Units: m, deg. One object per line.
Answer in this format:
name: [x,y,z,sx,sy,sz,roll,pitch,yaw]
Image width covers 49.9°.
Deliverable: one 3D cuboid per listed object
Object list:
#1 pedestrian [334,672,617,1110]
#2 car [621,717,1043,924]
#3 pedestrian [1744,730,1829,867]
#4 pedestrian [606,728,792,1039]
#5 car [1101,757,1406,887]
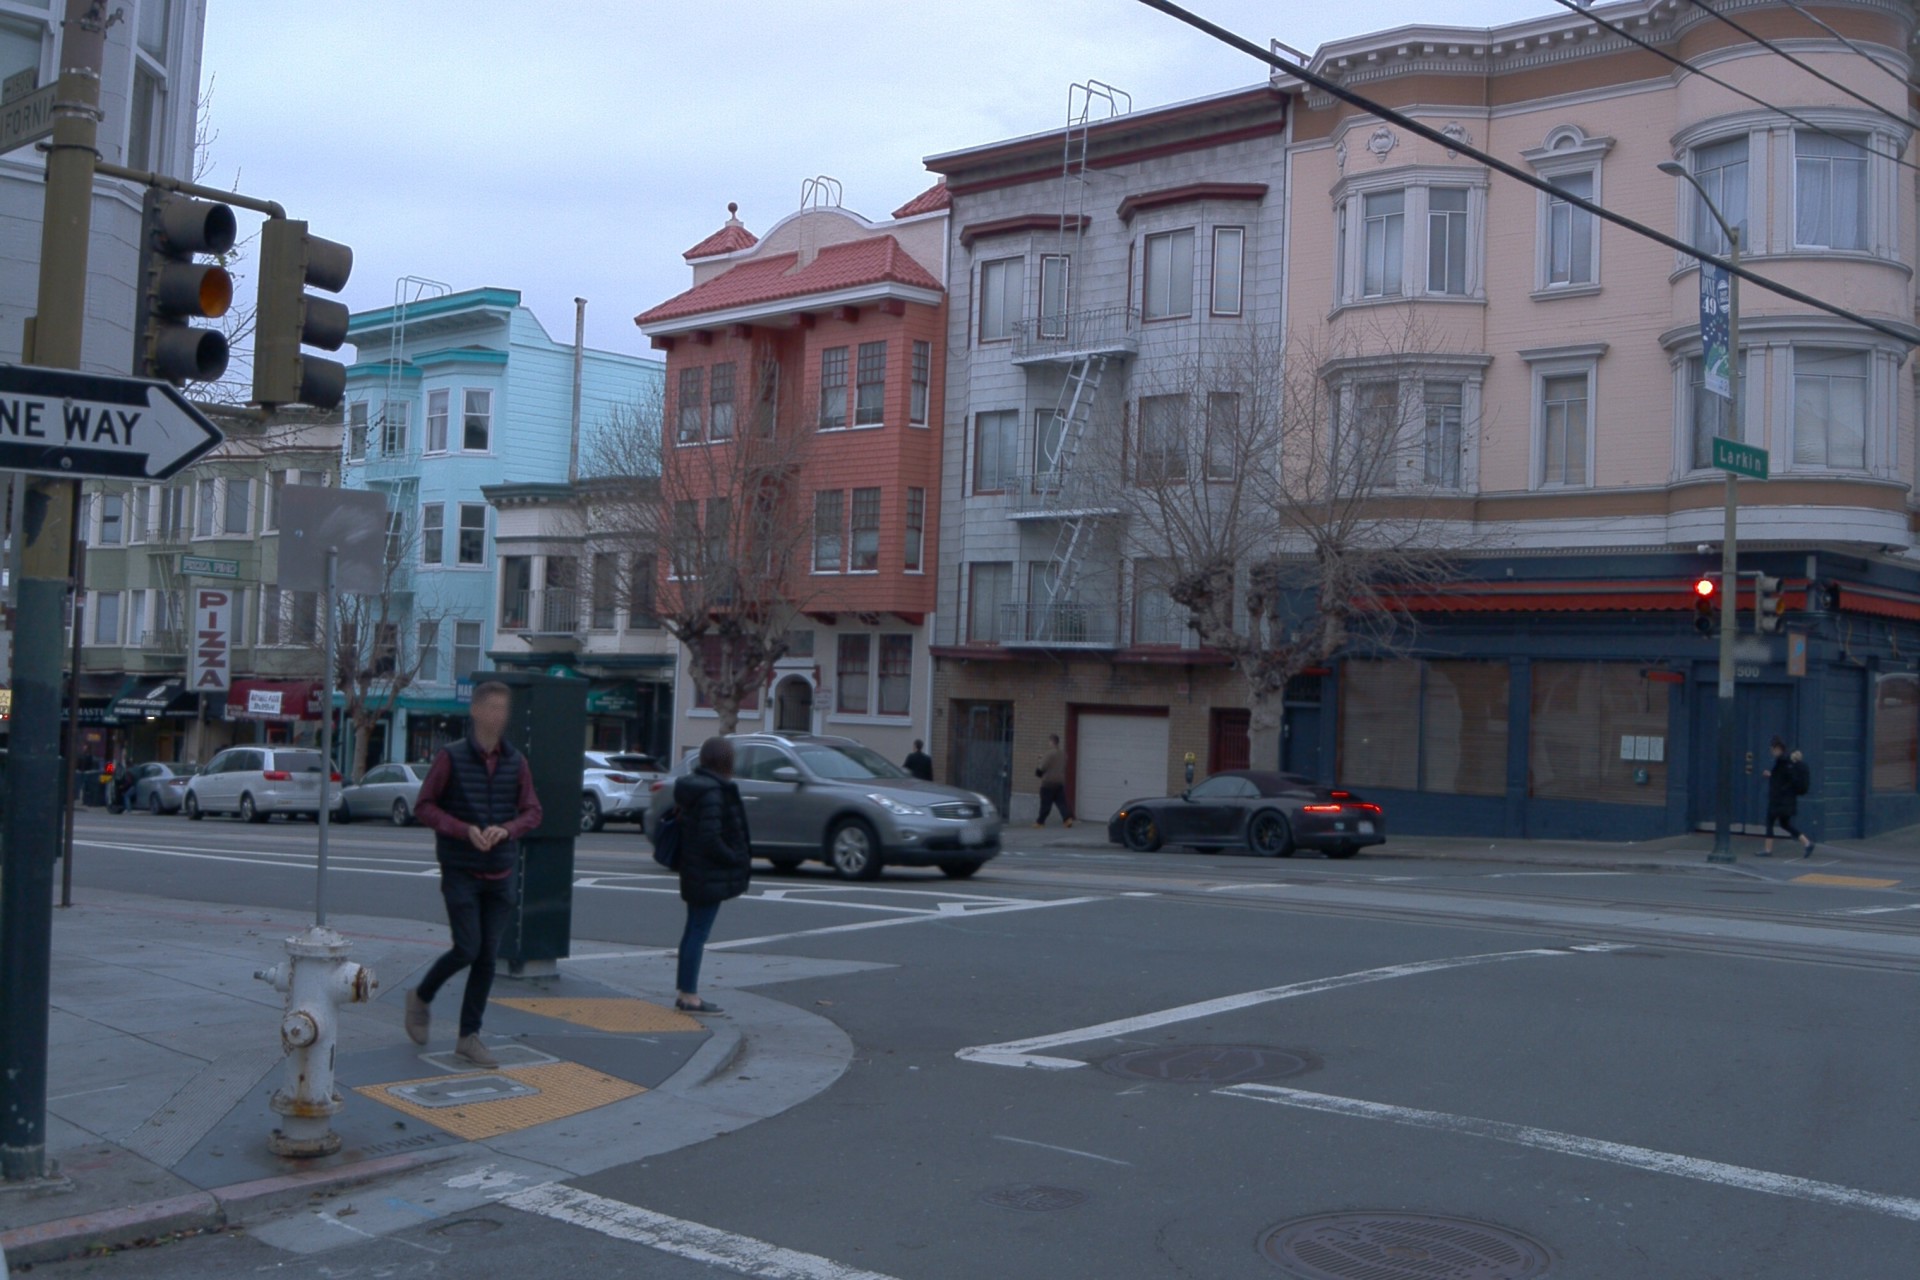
pedestrian: [-2.362,1.142,10.015,0.804,1.922,1.262,-1,1,-43]
car: [-1.529,1.917,23.244,4.671,1.830,2.108,1,1,43]
pedestrian: [11.623,2.215,29.020,0.940,1.820,0.725,1,1,36]
pedestrian: [-1.539,1.394,12.157,0.846,1.692,0.707,-1,1,-35]
car: [4.281,2.628,30.588,1.947,1.460,4.186,-1,1,-43]
